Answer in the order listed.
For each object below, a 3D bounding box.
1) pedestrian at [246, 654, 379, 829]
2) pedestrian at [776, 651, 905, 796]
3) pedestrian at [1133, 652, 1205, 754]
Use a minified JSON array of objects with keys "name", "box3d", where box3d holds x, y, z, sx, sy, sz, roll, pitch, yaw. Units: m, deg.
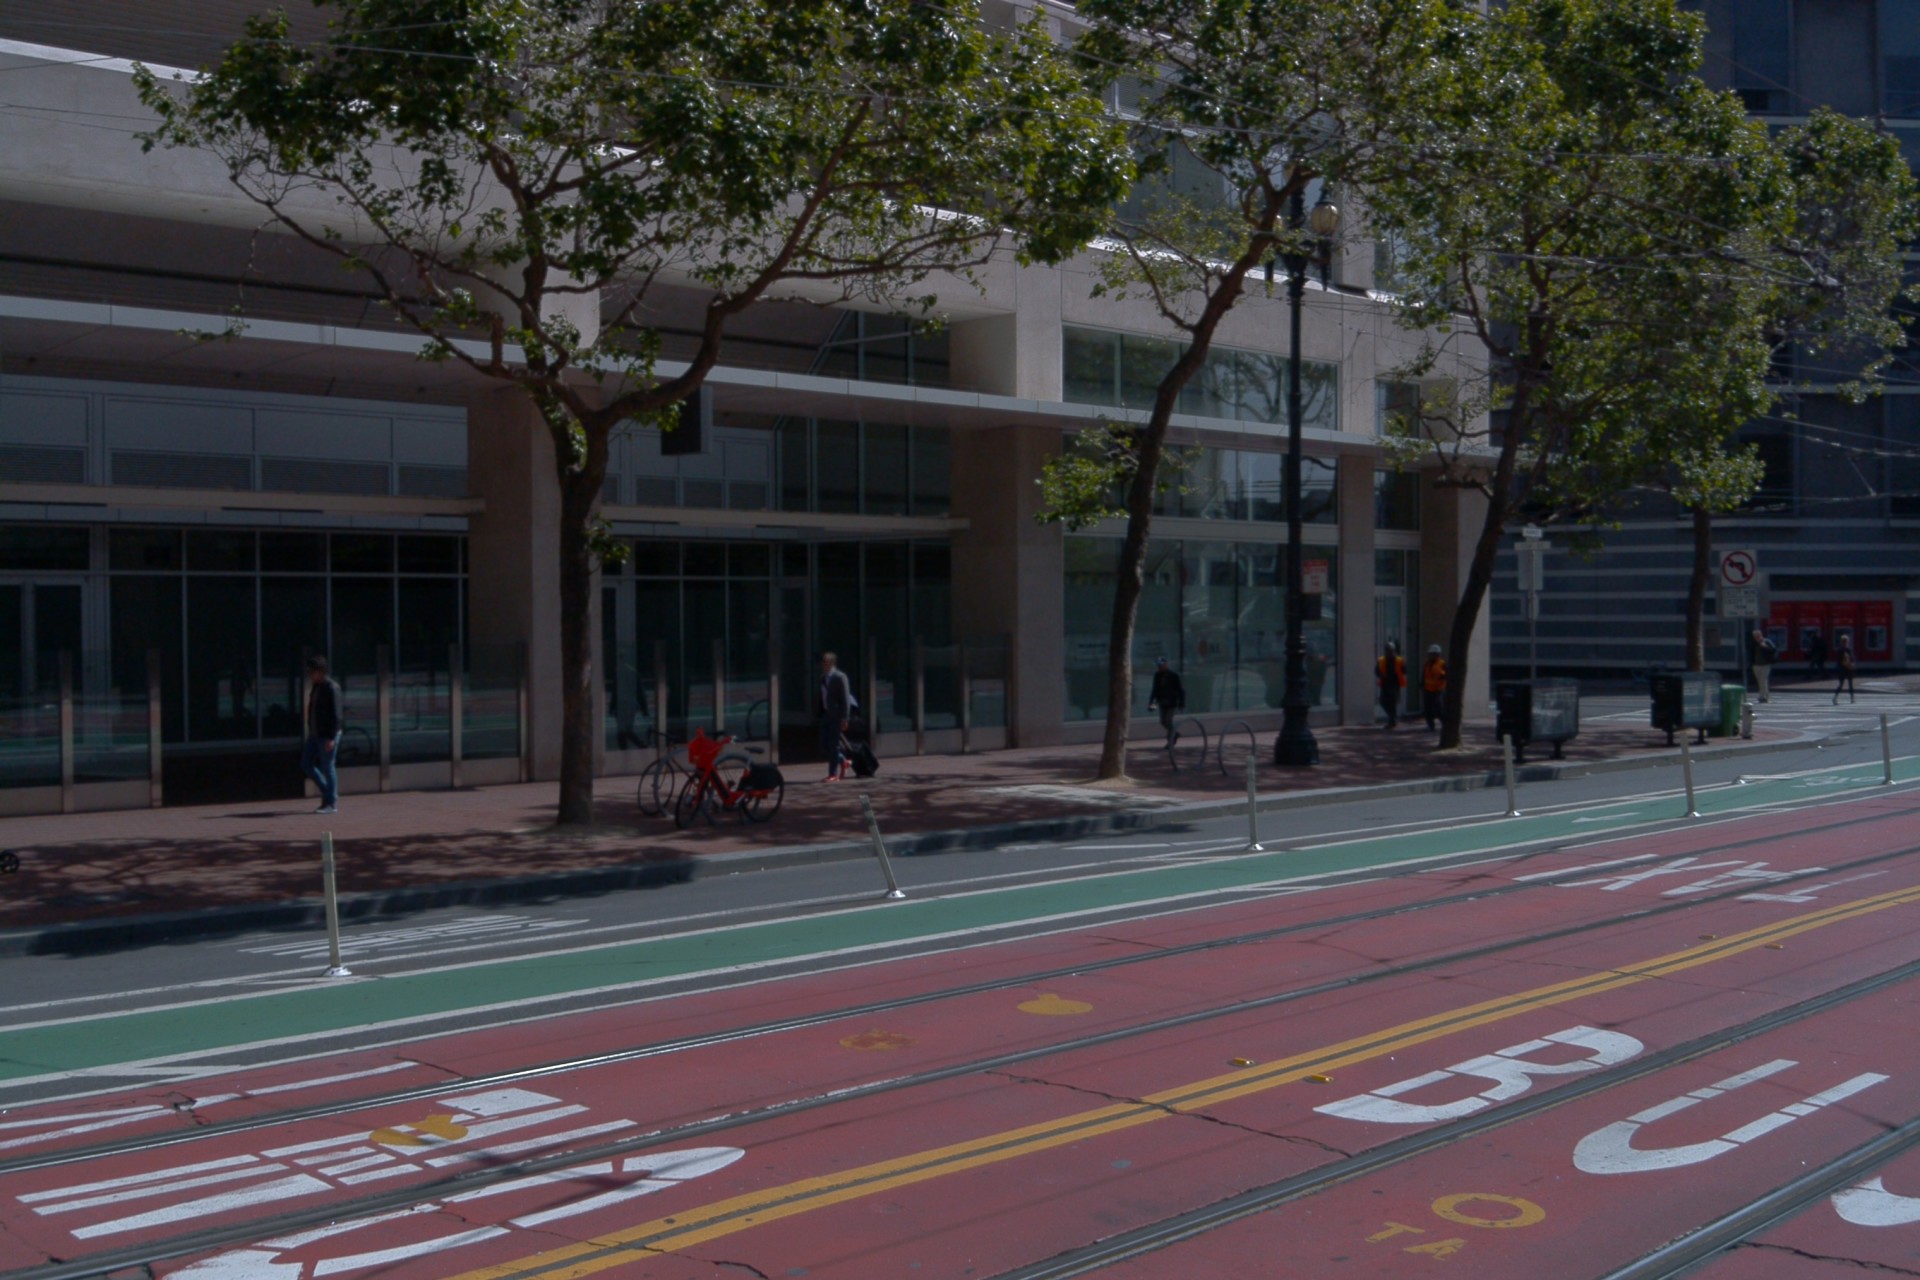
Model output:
[{"name":"pedestrian","box3d":[-7.554,1.157,24.089,0.850,1.950,1.198,1,1,42]},{"name":"pedestrian","box3d":[-1.683,1.150,29.117,1.558,1.950,0.976,-1,1,-44]},{"name":"pedestrian","box3d":[3.619,1.081,35.739,0.760,1.710,1.011,1,1,45]}]
